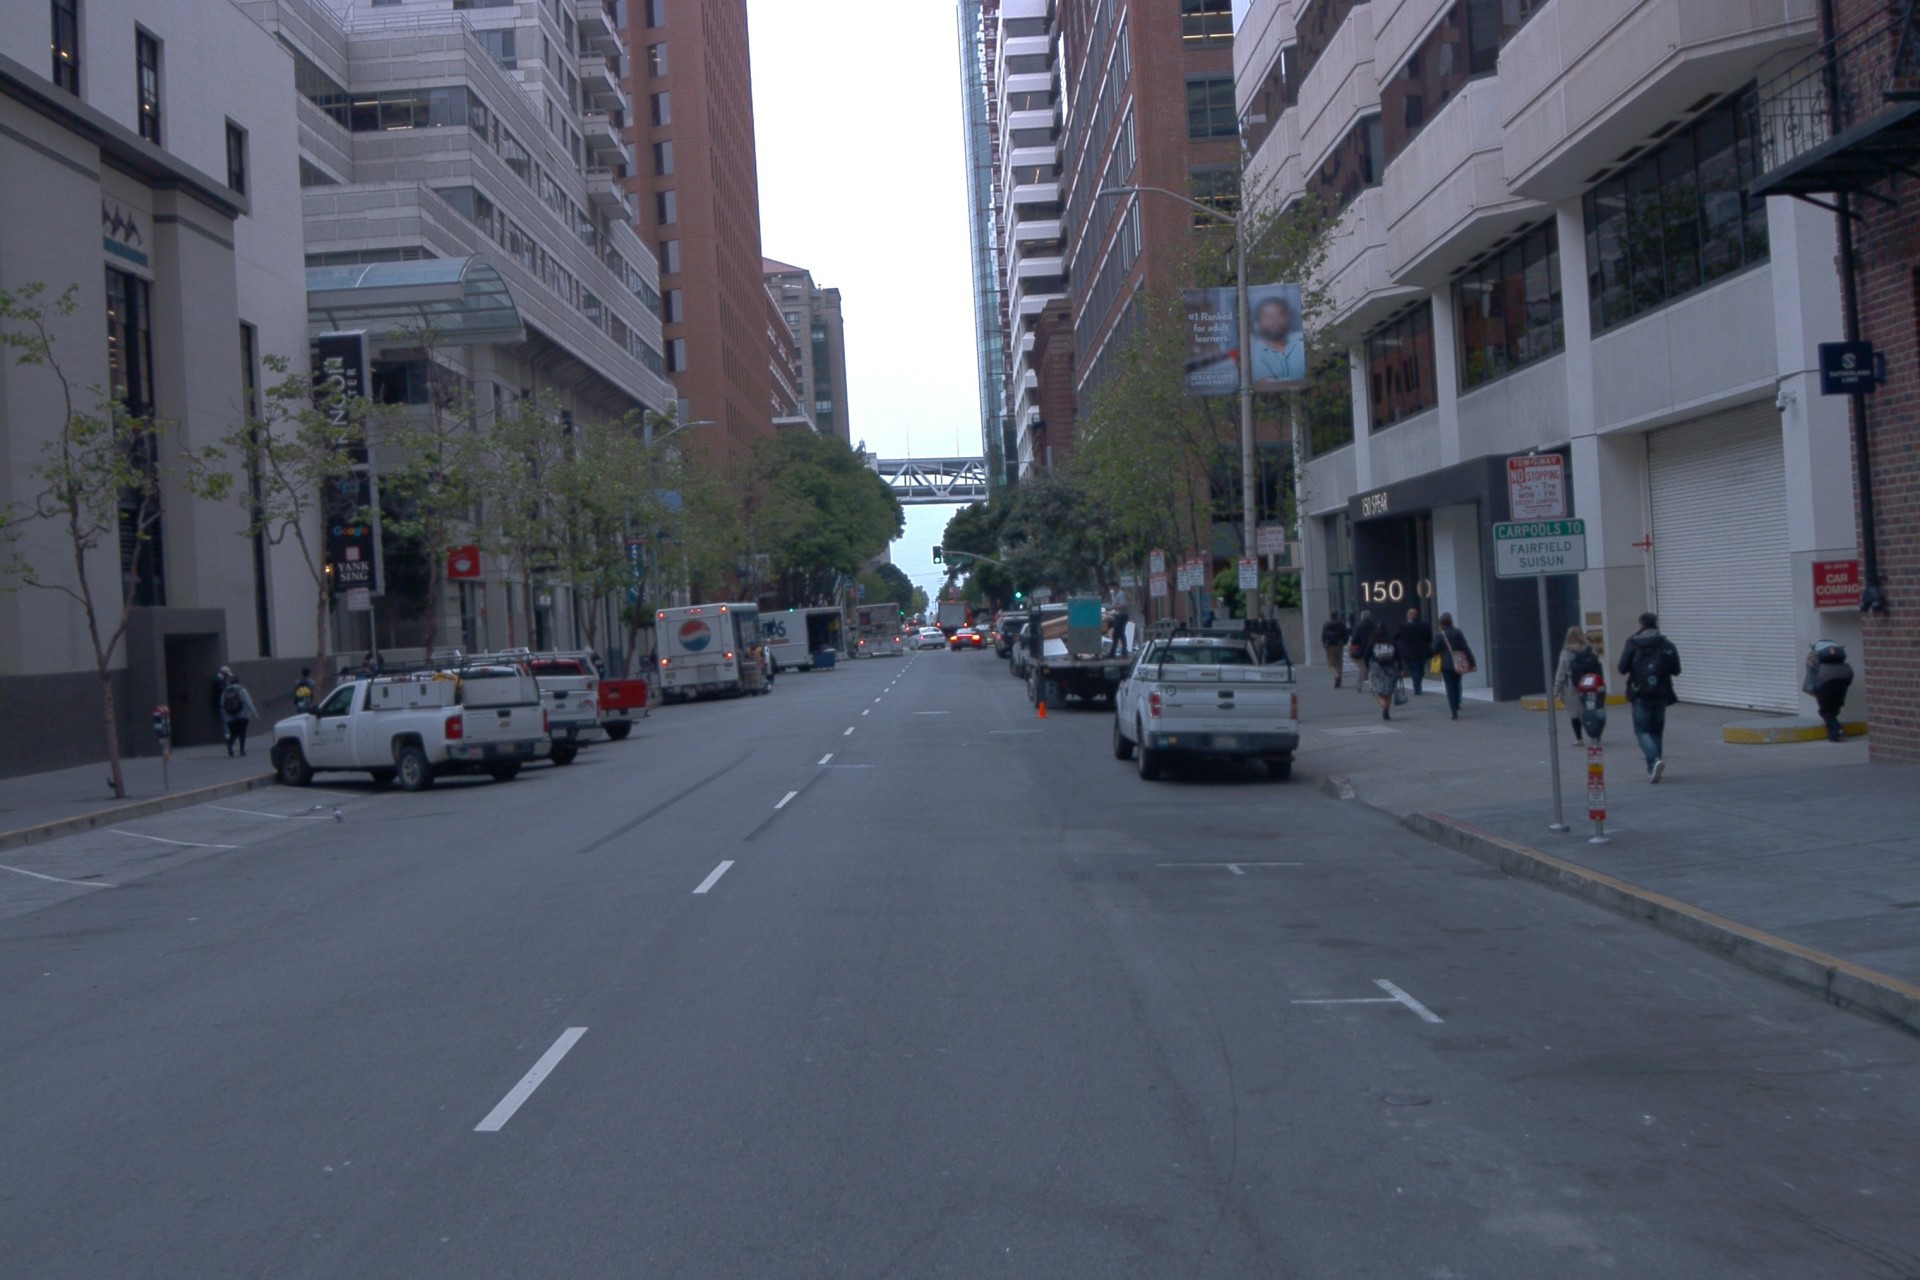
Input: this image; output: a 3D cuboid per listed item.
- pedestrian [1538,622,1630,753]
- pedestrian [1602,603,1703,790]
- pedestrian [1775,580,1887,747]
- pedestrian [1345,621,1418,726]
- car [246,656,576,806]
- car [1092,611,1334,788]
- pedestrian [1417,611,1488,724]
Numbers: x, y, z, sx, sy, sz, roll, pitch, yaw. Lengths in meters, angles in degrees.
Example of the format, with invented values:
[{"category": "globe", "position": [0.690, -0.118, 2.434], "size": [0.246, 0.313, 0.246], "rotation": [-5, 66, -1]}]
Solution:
[{"category": "pedestrian", "position": [7.773, 0.576, 25.660], "size": [0.888, 1.600, 0.979], "rotation": [0, 1, 3]}, {"category": "pedestrian", "position": [6.934, 0.548, 20.617], "size": [0.741, 1.830, 0.961], "rotation": [0, 1, 4]}, {"category": "pedestrian", "position": [9.823, 0.259, 23.214], "size": [0.933, 1.850, 0.881], "rotation": [0, 1, 5]}, {"category": "pedestrian", "position": [6.897, 0.537, 33.664], "size": [1.000, 1.680, 1.000], "rotation": [0, 1, 2]}, {"category": "car", "position": [-9.194, 1.417, 34.190], "size": [5.658, 2.200, 2.447], "rotation": [0, 1, 39]}, {"category": "car", "position": [3.355, 0.704, 28.697], "size": [2.514, 2.200, 6.098], "rotation": [0, 1, -1]}, {"category": "pedestrian", "position": [7.833, 0.429, 32.729], "size": [0.945, 1.770, 0.914], "rotation": [0, 1, 2]}]
